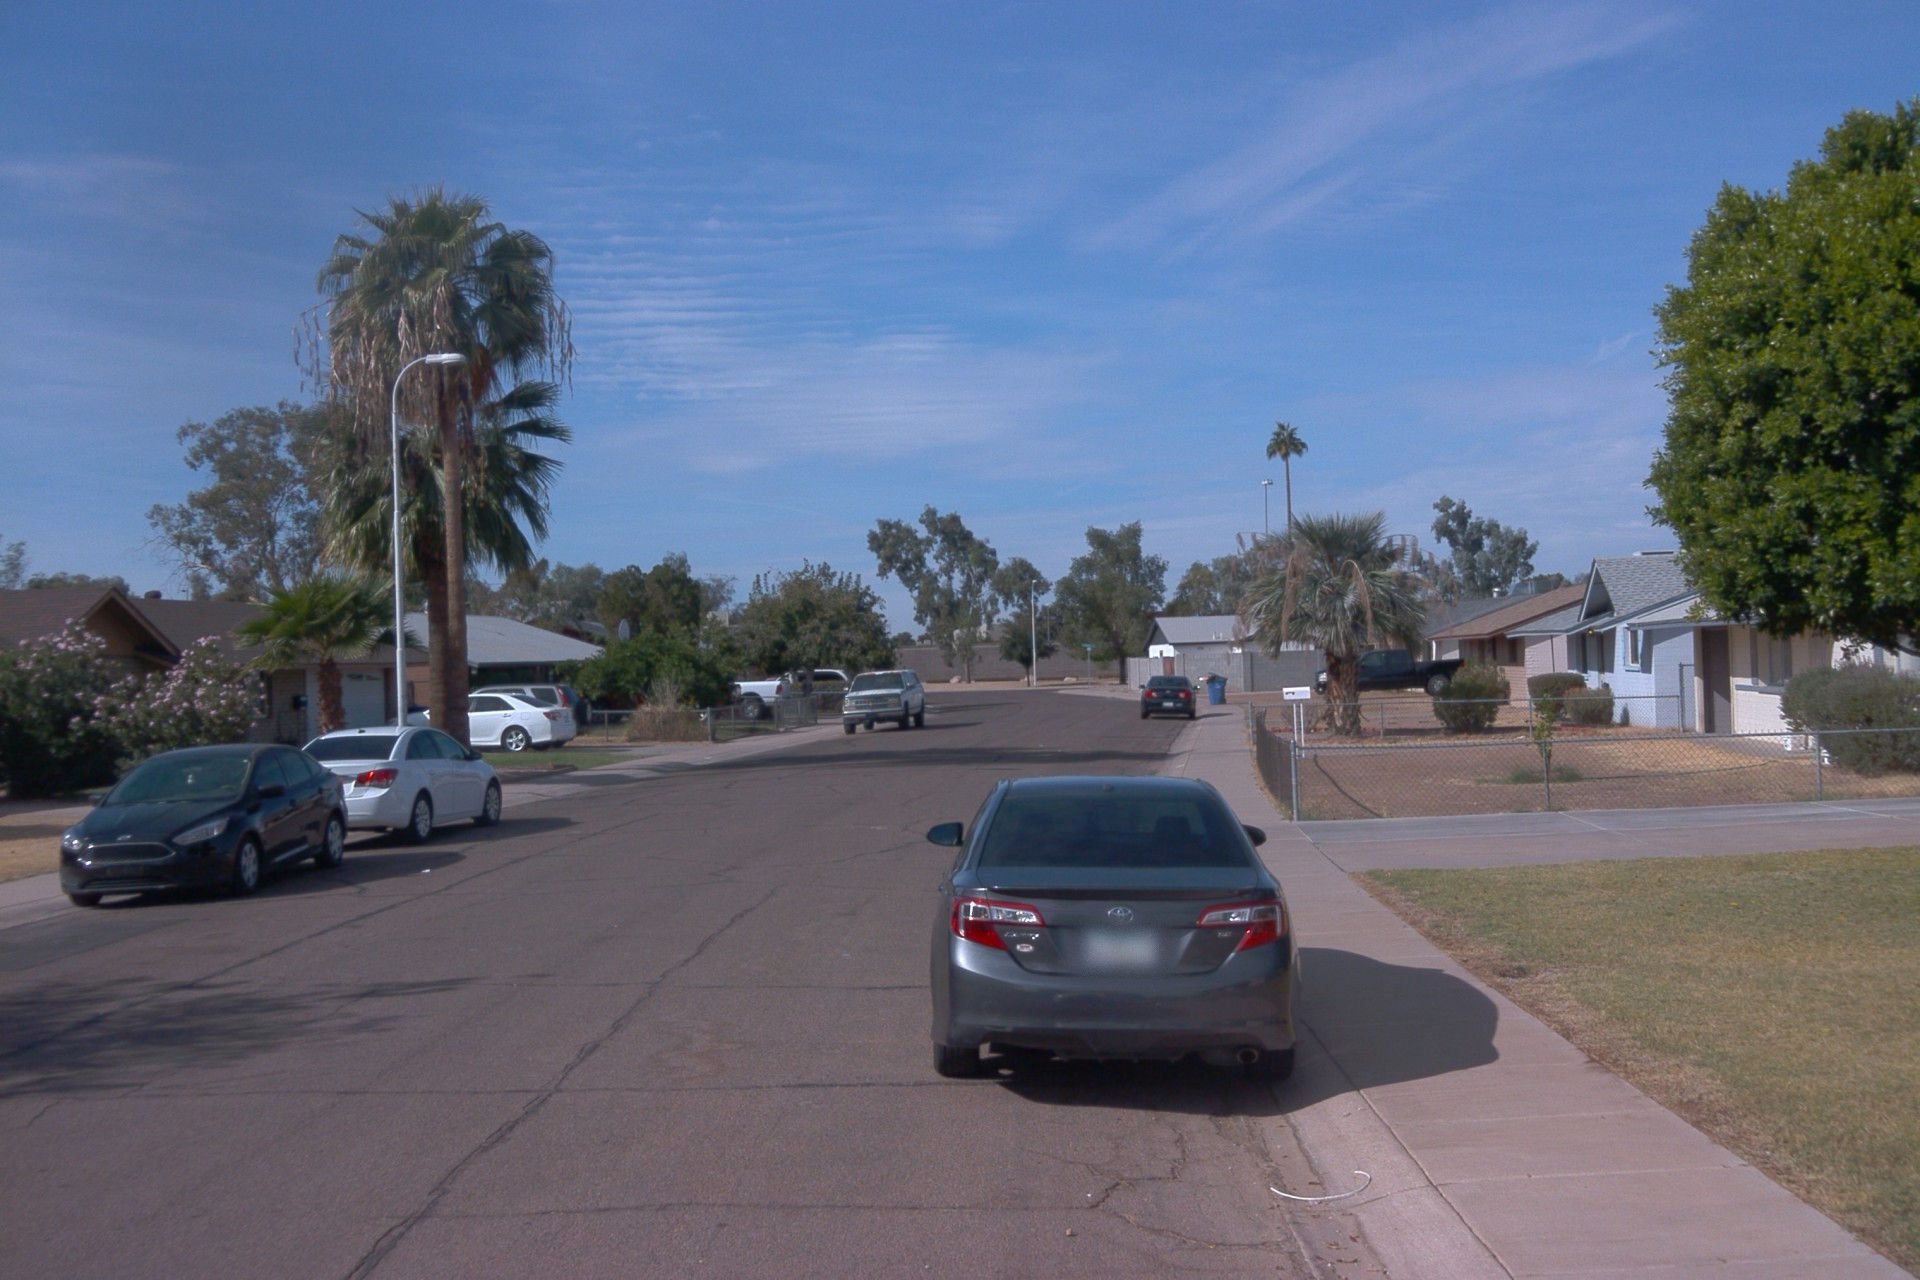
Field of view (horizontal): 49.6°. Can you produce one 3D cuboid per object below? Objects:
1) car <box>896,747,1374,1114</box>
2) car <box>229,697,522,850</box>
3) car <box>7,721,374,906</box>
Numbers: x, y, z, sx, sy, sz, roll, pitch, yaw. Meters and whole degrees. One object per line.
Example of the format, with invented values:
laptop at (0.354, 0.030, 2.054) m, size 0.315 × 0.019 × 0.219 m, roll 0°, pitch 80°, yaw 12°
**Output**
car at (0.810, 1.438, 11.877) m, size 2.150 × 1.470 × 5.012 m, roll 0°, pitch -1°, yaw 1°
car at (-7.481, 1.656, 27.137) m, size 2.079 × 1.770 × 4.631 m, roll 0°, pitch -1°, yaw 7°
car at (-7.785, 1.699, 21.556) m, size 2.055 × 1.610 × 4.523 m, roll 0°, pitch -1°, yaw 1°
